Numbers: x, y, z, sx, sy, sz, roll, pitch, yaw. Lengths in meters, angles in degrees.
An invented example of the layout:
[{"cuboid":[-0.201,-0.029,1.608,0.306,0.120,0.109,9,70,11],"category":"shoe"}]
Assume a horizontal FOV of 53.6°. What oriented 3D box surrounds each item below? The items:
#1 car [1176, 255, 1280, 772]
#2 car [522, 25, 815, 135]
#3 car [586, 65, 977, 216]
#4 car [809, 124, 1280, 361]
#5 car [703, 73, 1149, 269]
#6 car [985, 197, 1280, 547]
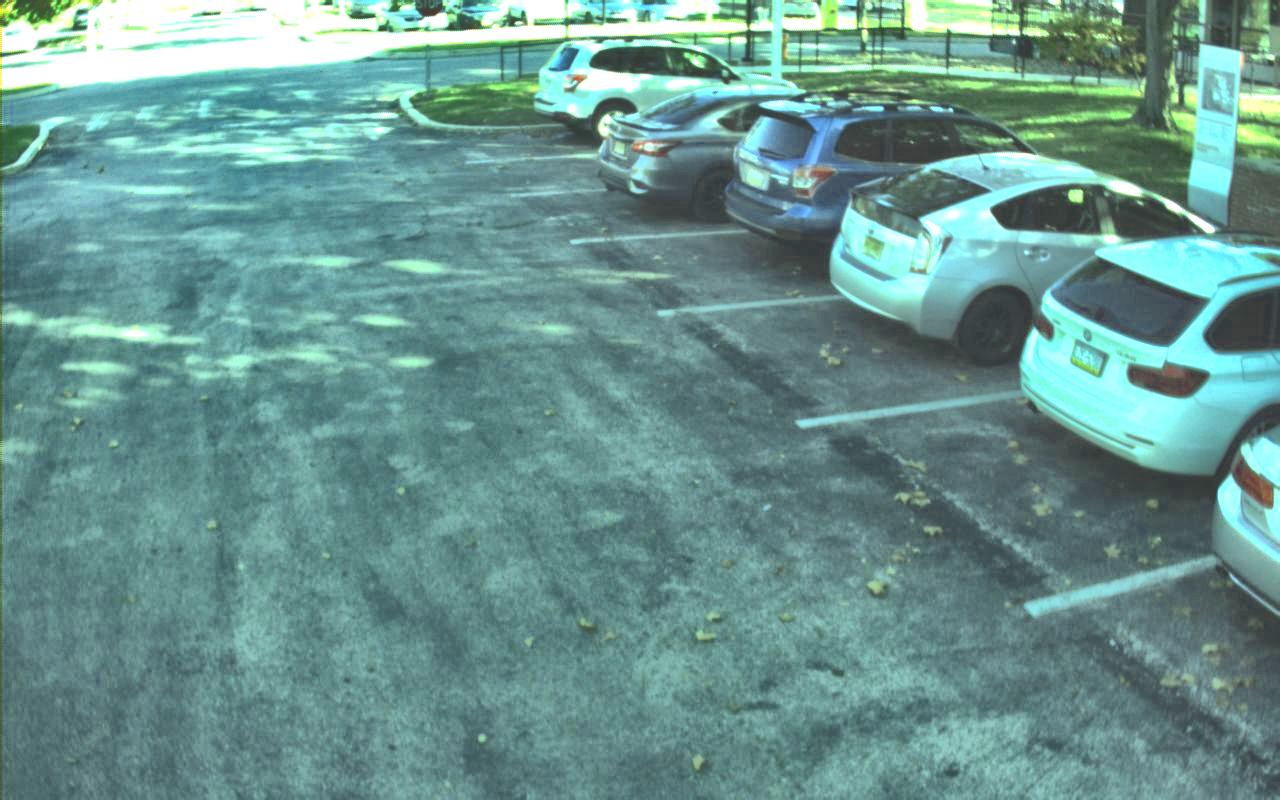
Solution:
[{"cuboid":[5.134,0.307,5.506,4.418,1.581,1.940,-7,17,-18],"category":"car"},{"cuboid":[0.474,-5.402,20.593,4.505,1.667,1.958,-7,17,-20],"category":"car"},{"cuboid":[1.755,-3.265,15.094,4.423,1.562,1.931,-7,17,-19],"category":"car"},{"cuboid":[3.770,-1.532,10.402,4.297,1.578,1.896,-6,17,-17],"category":"car"},{"cuboid":[3.065,-2.513,12.732,4.424,1.701,1.953,-7,17,-18],"category":"car"},{"cuboid":[4.719,-0.443,7.996,4.382,1.627,1.944,-7,17,-19],"category":"car"}]
